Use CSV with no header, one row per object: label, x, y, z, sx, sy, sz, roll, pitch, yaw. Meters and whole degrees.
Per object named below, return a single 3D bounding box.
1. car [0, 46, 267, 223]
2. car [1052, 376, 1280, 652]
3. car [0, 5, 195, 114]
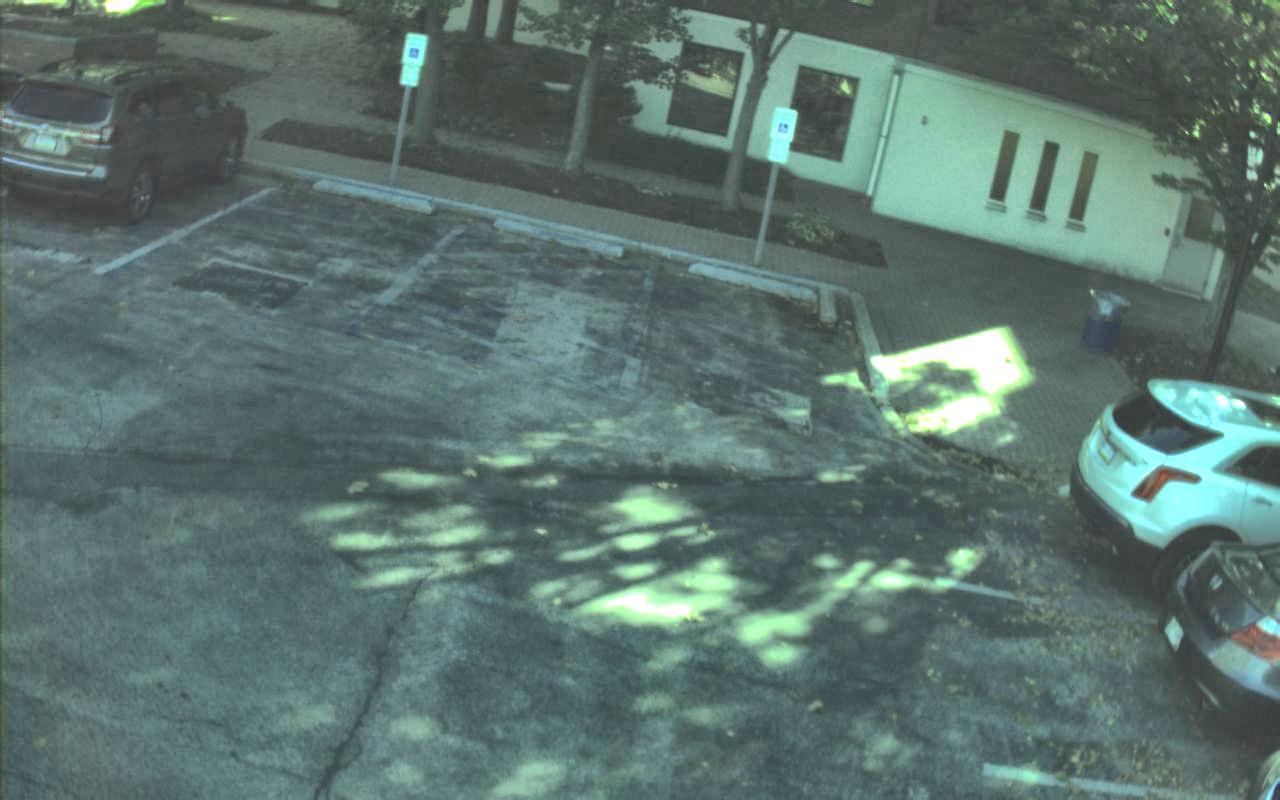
car,-6.455,-3.485,14.695,1.982,1.678,4.634,0,17,3
car,6.004,0.928,9.968,4.396,1.672,1.980,-1,16,2
car,-10.133,-6.389,21.011,1.969,1.626,4.583,0,17,5
